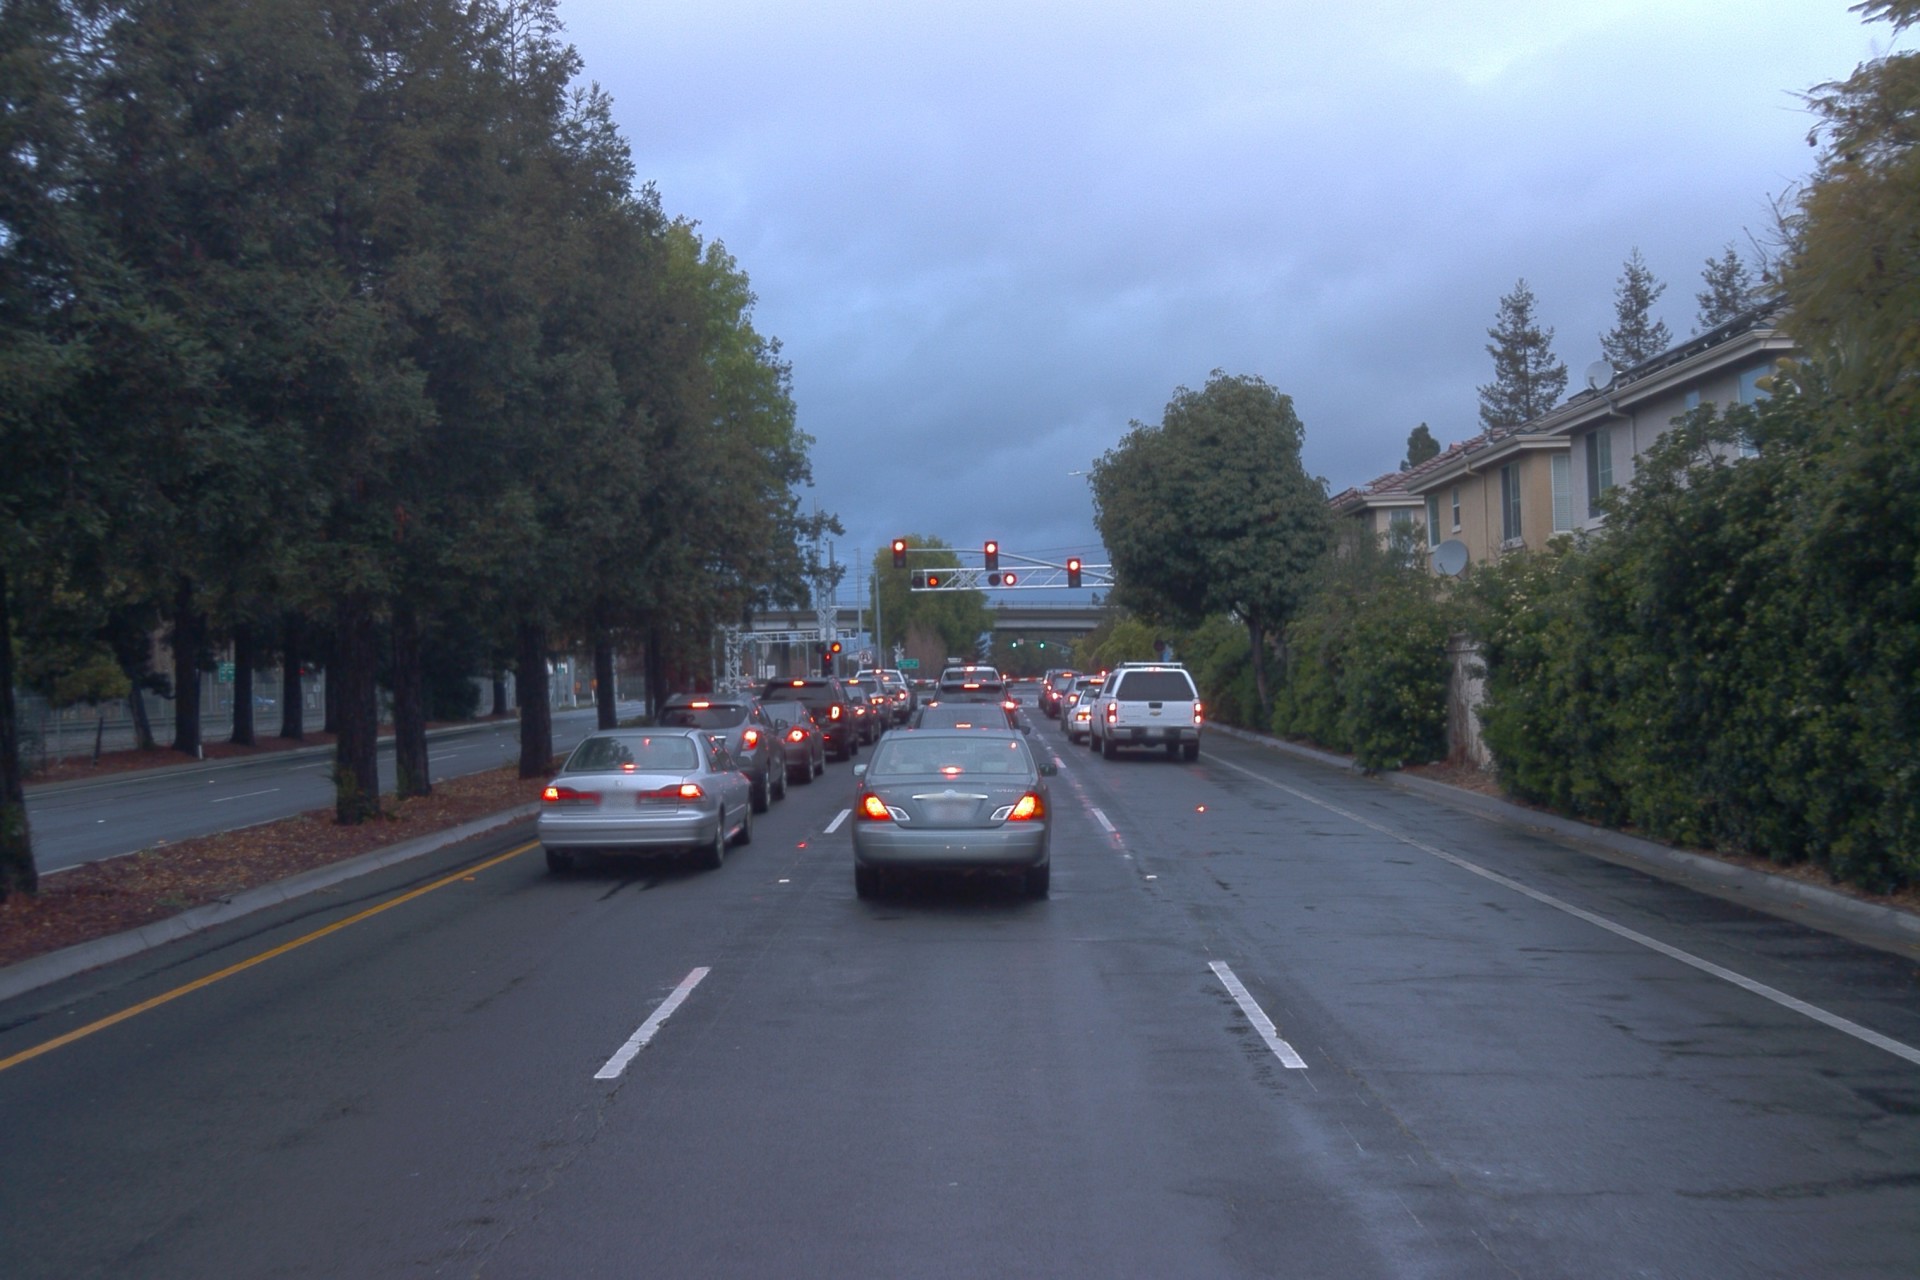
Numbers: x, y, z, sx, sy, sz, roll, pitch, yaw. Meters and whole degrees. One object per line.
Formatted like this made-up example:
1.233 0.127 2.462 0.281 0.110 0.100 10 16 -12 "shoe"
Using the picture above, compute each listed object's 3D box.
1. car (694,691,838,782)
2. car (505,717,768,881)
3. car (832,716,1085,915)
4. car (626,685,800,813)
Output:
-3.347 1.650 36.559 2.021 1.460 4.541 0 -1 1 "car"
-3.340 1.621 22.323 2.021 1.480 4.541 0 -1 1 "car"
-0.032 1.547 19.587 2.105 1.550 4.676 0 -1 0 "car"
-3.496 1.518 30.057 1.936 1.700 4.080 0 -1 1 "car"
